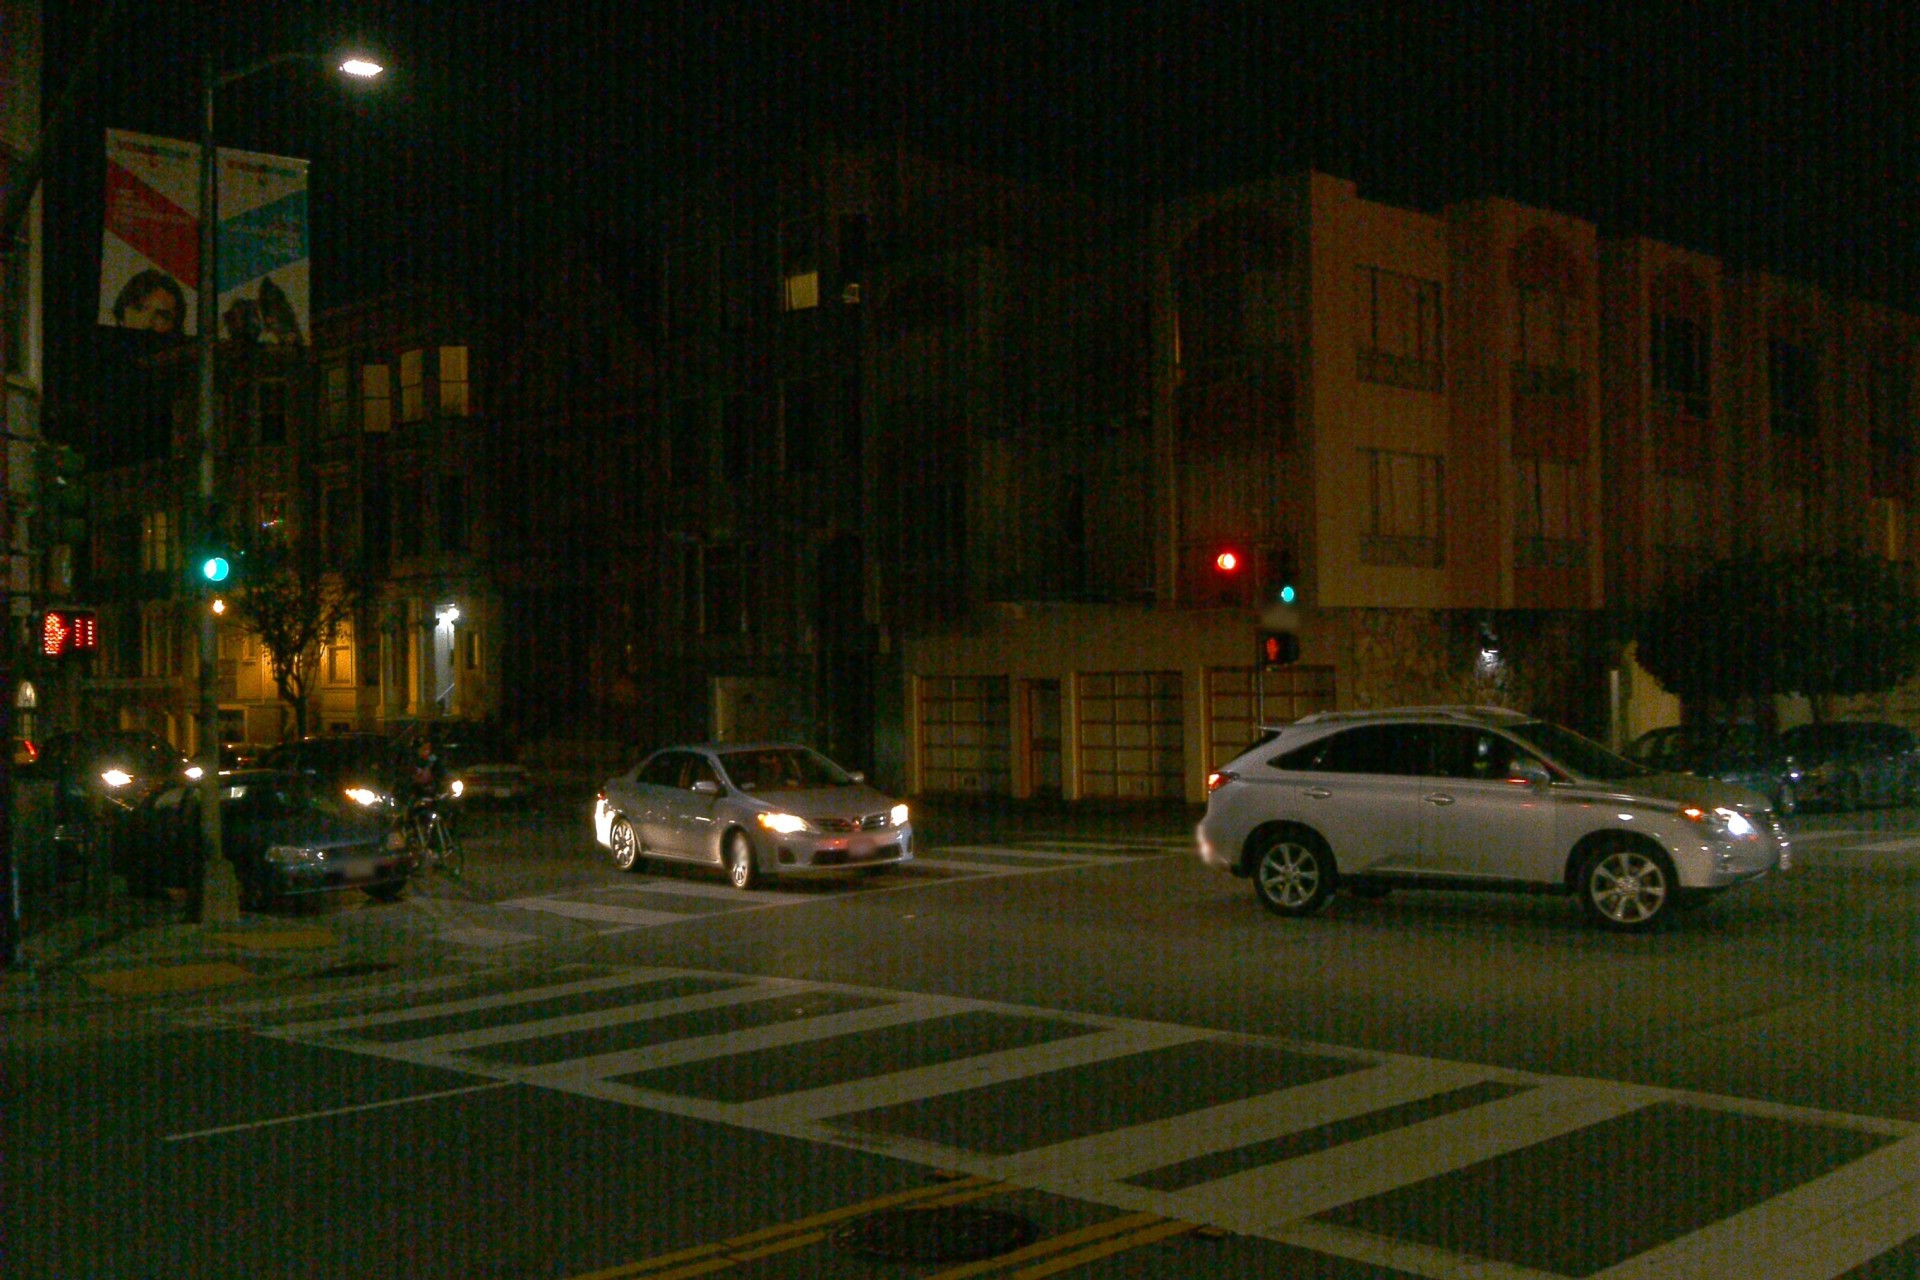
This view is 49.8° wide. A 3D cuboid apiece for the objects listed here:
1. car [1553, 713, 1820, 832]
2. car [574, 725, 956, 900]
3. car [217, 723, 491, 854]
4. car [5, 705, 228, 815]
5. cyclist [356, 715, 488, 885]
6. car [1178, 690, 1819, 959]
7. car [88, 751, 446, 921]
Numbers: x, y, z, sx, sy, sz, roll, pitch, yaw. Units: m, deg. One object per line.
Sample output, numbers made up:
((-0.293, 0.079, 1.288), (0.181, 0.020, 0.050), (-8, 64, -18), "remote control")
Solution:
((10.607, 1.859, 29.967), (1.967, 1.430, 4.633), (1, 0, 42), "car")
((-2.216, 1.758, 22.305), (2.124, 1.450, 4.462), (1, 0, -36), "car")
((-8.710, 2.046, 29.460), (2.021, 1.480, 4.494), (1, 0, -41), "car")
((-14.519, 1.996, 35.434), (2.128, 1.560, 4.553), (1, 0, -42), "car")
((-6.111, 1.776, 23.407), (0.771, 1.760, 1.751), (1, 0, -39), "cyclist")
((4.378, 1.380, 17.048), (4.617, 1.760, 2.137), (1, 0, 34), "car")
((-7.499, 2.012, 22.147), (1.946, 1.350, 4.278), (1, 0, -44), "car")
